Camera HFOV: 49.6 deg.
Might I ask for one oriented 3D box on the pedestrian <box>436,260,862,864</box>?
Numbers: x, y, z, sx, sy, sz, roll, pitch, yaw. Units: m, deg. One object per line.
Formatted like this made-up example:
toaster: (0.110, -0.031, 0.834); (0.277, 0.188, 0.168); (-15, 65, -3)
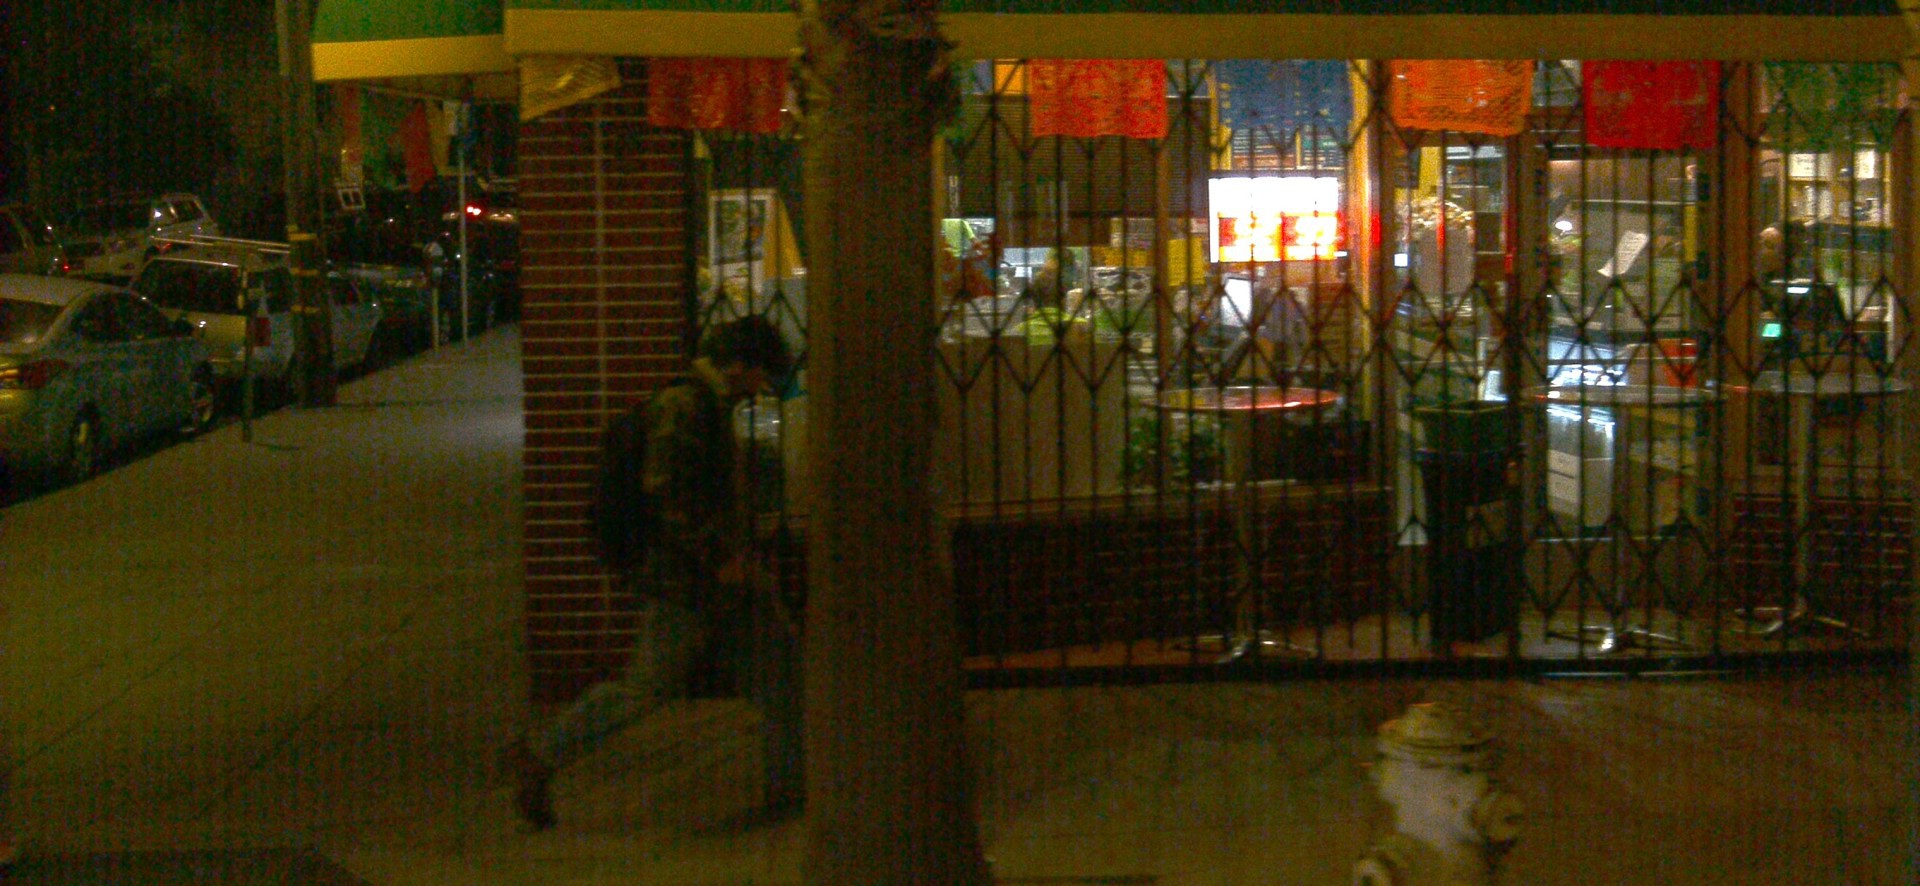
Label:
pedestrian: (-0.977, 0.321, 6.778); (1.200, 1.819, 0.856); (0, 1, 5)

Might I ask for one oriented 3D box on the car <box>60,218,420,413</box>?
car: (-7.143, -1.382, 21.157); (2.131, 1.763, 4.387); (0, 5, 0)

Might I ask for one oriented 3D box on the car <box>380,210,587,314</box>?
car: (-7.270, -2.847, 32.248); (2.139, 1.484, 5.014); (0, 5, -1)

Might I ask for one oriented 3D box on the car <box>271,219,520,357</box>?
car: (-7.116, -2.051, 26.701); (2.099, 1.613, 4.491); (0, 5, -2)
